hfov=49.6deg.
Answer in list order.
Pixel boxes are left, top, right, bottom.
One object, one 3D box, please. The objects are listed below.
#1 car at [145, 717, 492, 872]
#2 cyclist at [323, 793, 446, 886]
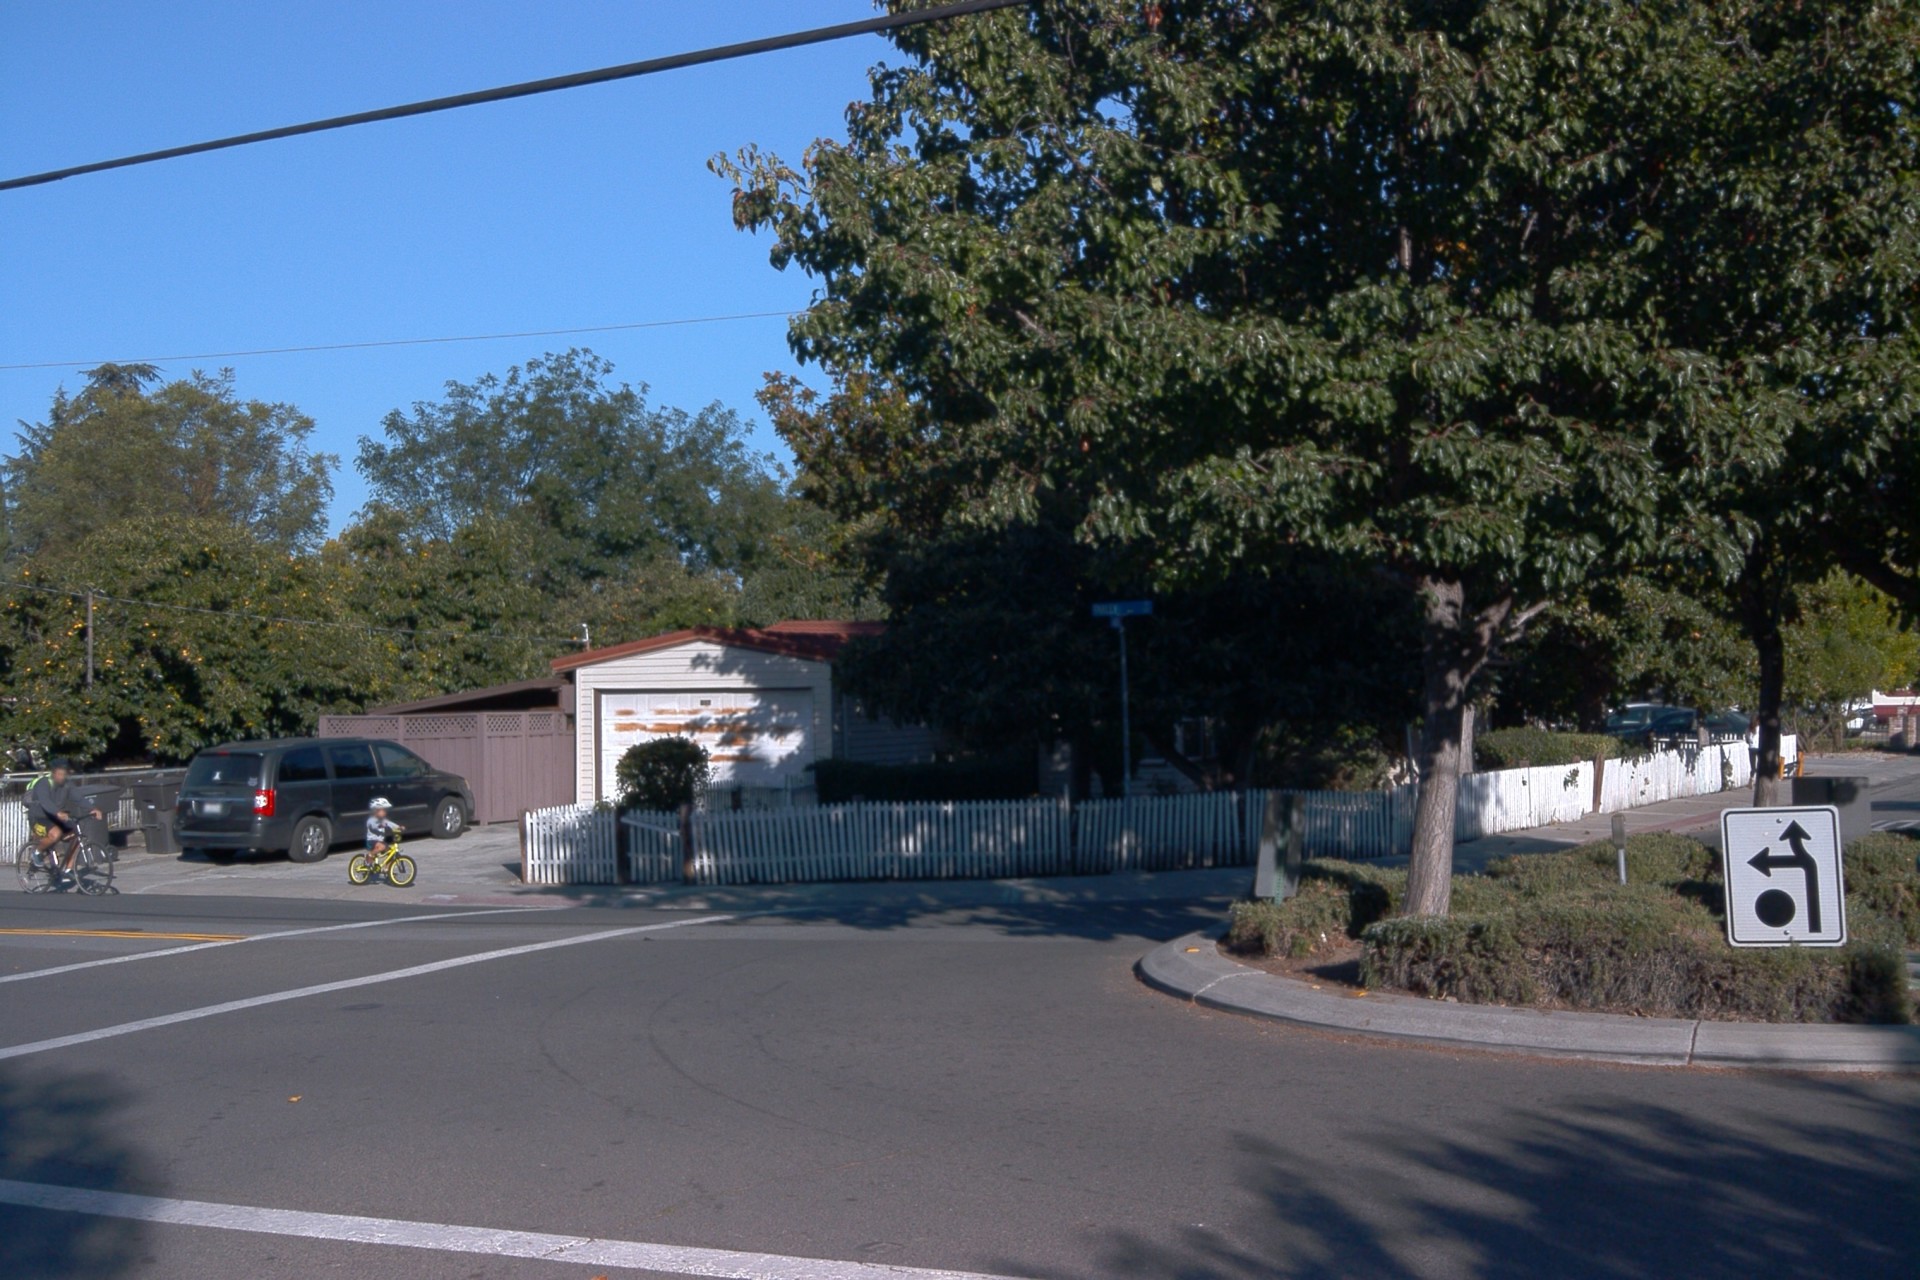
[{"bbox_3d":[-9.479,2.216,31.192,2.140,1.930,4.988,1,0,25],"label":"car"},{"bbox_3d":[-7.205,2.483,26.010,1.328,1.030,0.693,1,0,26],"label":"cyclist"}]
